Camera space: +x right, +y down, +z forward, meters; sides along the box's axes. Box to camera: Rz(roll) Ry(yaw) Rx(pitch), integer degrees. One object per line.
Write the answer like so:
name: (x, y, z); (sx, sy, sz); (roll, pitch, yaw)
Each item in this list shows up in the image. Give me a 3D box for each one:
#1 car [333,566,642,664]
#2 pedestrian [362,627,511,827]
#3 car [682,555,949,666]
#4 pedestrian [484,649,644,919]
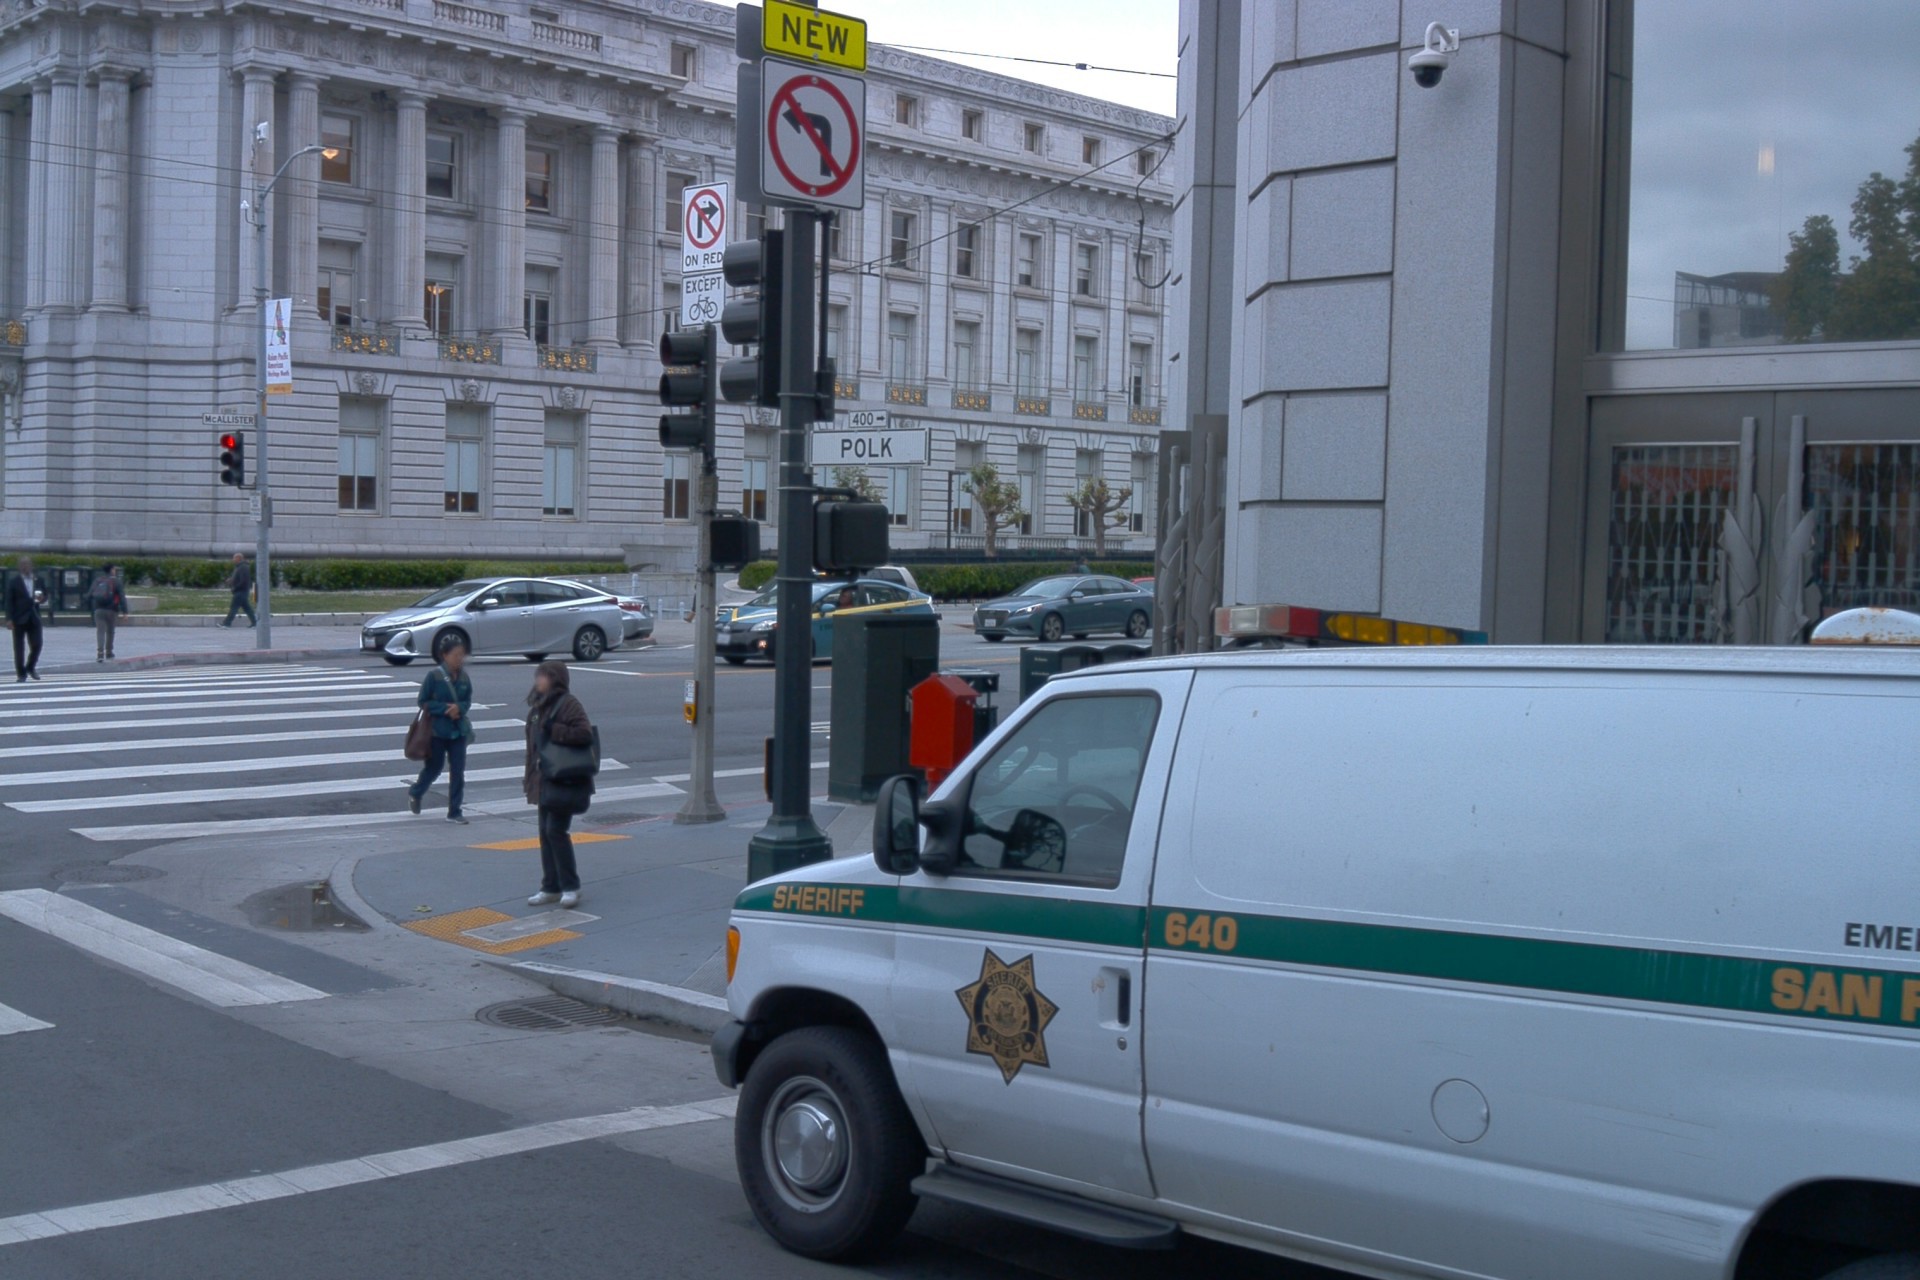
car: (-7.910, -0.421, 34.872); (4.666, 1.540, 2.143); (-1, 1, -45)
pedestrian: (-4.582, 0.731, 18.083); (1.005, 1.690, 0.861); (1, 1, 45)
car: (-2.445, -0.501, 35.730); (2.040, 1.787, 4.328); (1, 1, 44)
pedestrian: (-2.618, 0.920, 13.671); (0.804, 1.710, 0.666); (0, 1, 35)
